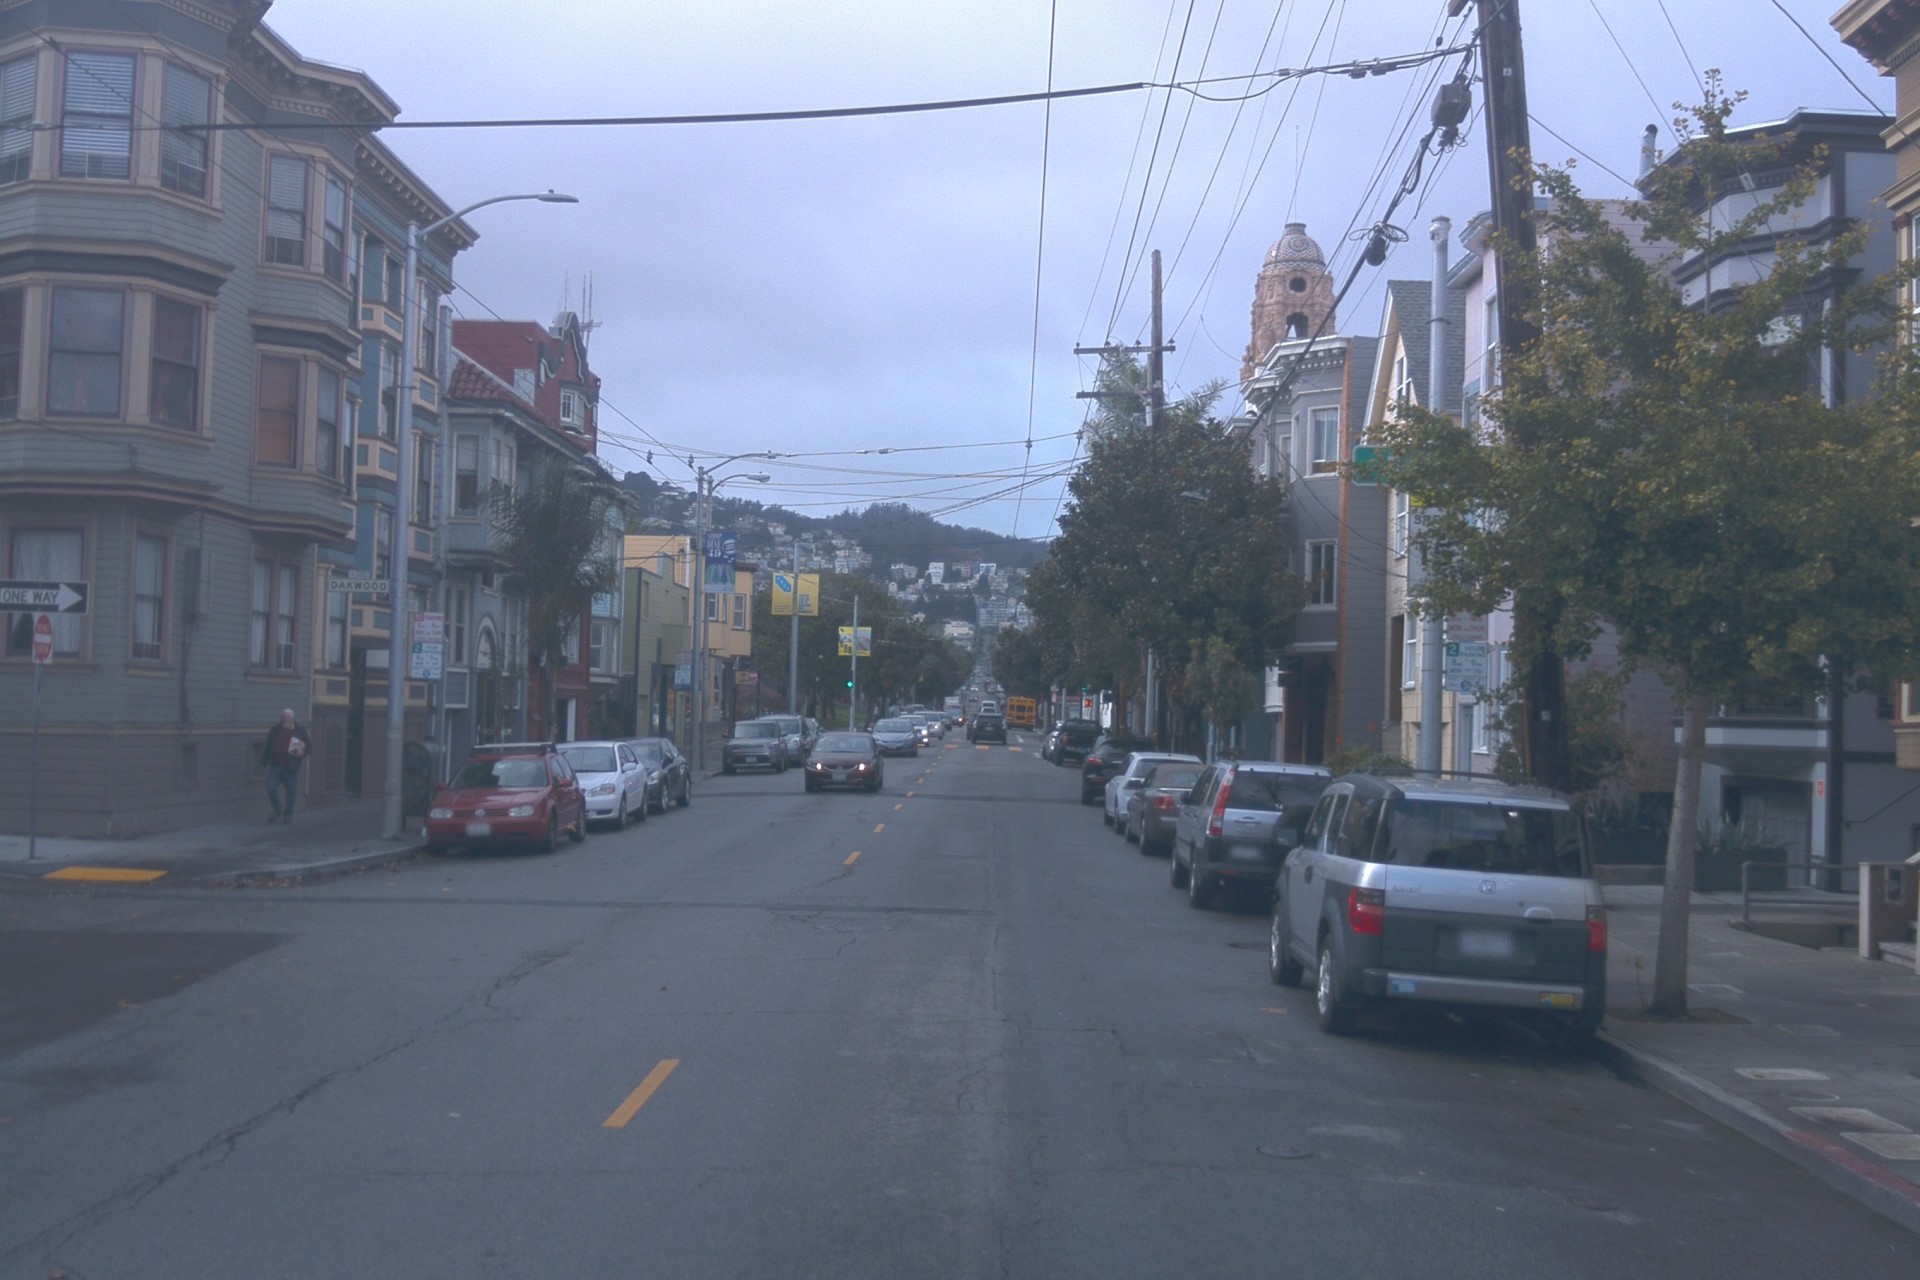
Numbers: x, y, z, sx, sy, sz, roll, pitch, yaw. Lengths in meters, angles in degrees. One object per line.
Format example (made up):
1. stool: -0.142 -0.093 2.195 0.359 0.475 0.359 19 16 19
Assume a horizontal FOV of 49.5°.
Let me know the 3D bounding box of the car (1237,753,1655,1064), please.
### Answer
1. car: 3.408 1.839 15.521 2.079 1.840 4.298 1 -2 0

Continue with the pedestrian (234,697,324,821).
1. pedestrian: -10.430 1.809 31.946 1.000 1.850 1.000 1 -1 0

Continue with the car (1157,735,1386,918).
1. car: 3.522 2.086 24.413 2.068 1.820 4.575 1 -2 1

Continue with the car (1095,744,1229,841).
1. car: 3.570 2.698 37.506 2.059 1.500 4.269 1 -2 1

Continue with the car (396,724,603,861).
1. car: -6.555 2.132 30.162 2.041 1.750 4.256 1 -2 -1

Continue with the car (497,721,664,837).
1. car: -6.434 2.319 35.805 2.042 1.780 4.511 1 -2 -1

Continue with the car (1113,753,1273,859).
1. car: 3.551 2.533 32.560 1.962 1.390 4.511 1 -2 0
